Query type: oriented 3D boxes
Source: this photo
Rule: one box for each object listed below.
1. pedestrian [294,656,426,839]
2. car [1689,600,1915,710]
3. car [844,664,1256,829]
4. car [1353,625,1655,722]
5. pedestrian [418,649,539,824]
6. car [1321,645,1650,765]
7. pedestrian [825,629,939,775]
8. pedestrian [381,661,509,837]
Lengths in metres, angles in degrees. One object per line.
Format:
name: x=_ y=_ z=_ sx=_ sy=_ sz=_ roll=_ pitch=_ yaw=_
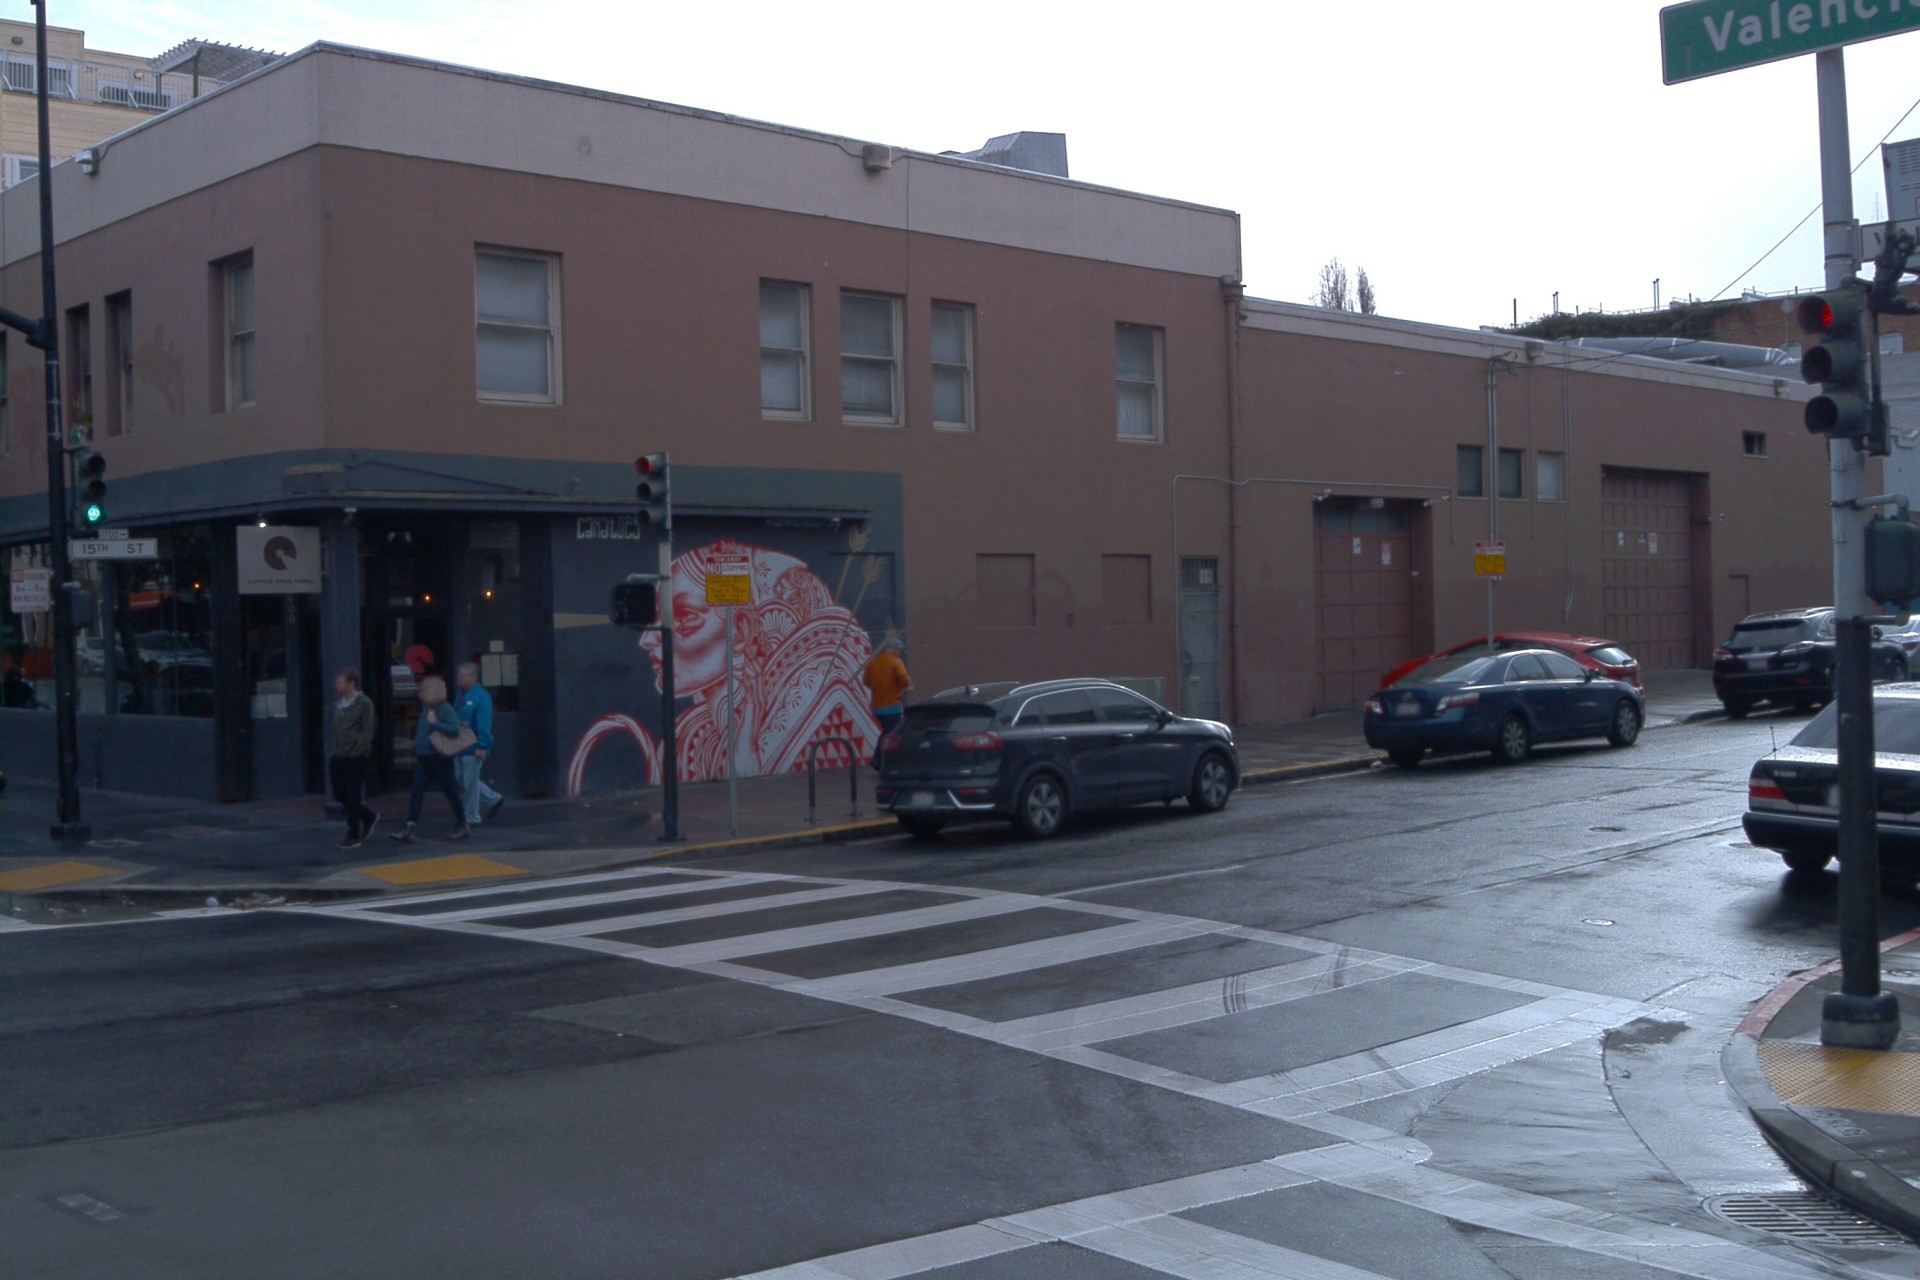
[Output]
pedestrian: x=-5.997 y=1.044 z=20.452 sx=0.885 sy=1.760 sz=0.888 roll=1 pitch=0 yaw=30
car: x=14.295 y=0.239 z=34.631 sx=4.375 sy=1.740 sz=1.972 roll=0 pitch=0 yaw=-45
car: x=1.028 y=1.032 z=21.546 sx=1.972 sy=1.510 sz=4.267 roll=1 pitch=0 yaw=44
car: x=8.927 y=0.509 z=33.796 sx=4.382 sy=1.480 sz=2.014 roll=1 pitch=0 yaw=44
pedestrian: x=-5.129 y=0.999 z=21.784 sx=0.904 sy=1.790 sz=0.933 roll=0 pitch=1 yaw=-41
car: x=7.179 y=0.818 z=27.709 sx=4.598 sy=1.460 sz=2.094 roll=0 pitch=0 yaw=-42
pedestrian: x=-0.993 y=0.769 z=26.103 sx=1.086 sy=1.800 sz=0.943 roll=0 pitch=1 yaw=-40
pedestrian: x=-5.230 y=1.081 z=20.780 sx=0.885 sy=1.720 sz=0.888 roll=1 pitch=1 yaw=34
